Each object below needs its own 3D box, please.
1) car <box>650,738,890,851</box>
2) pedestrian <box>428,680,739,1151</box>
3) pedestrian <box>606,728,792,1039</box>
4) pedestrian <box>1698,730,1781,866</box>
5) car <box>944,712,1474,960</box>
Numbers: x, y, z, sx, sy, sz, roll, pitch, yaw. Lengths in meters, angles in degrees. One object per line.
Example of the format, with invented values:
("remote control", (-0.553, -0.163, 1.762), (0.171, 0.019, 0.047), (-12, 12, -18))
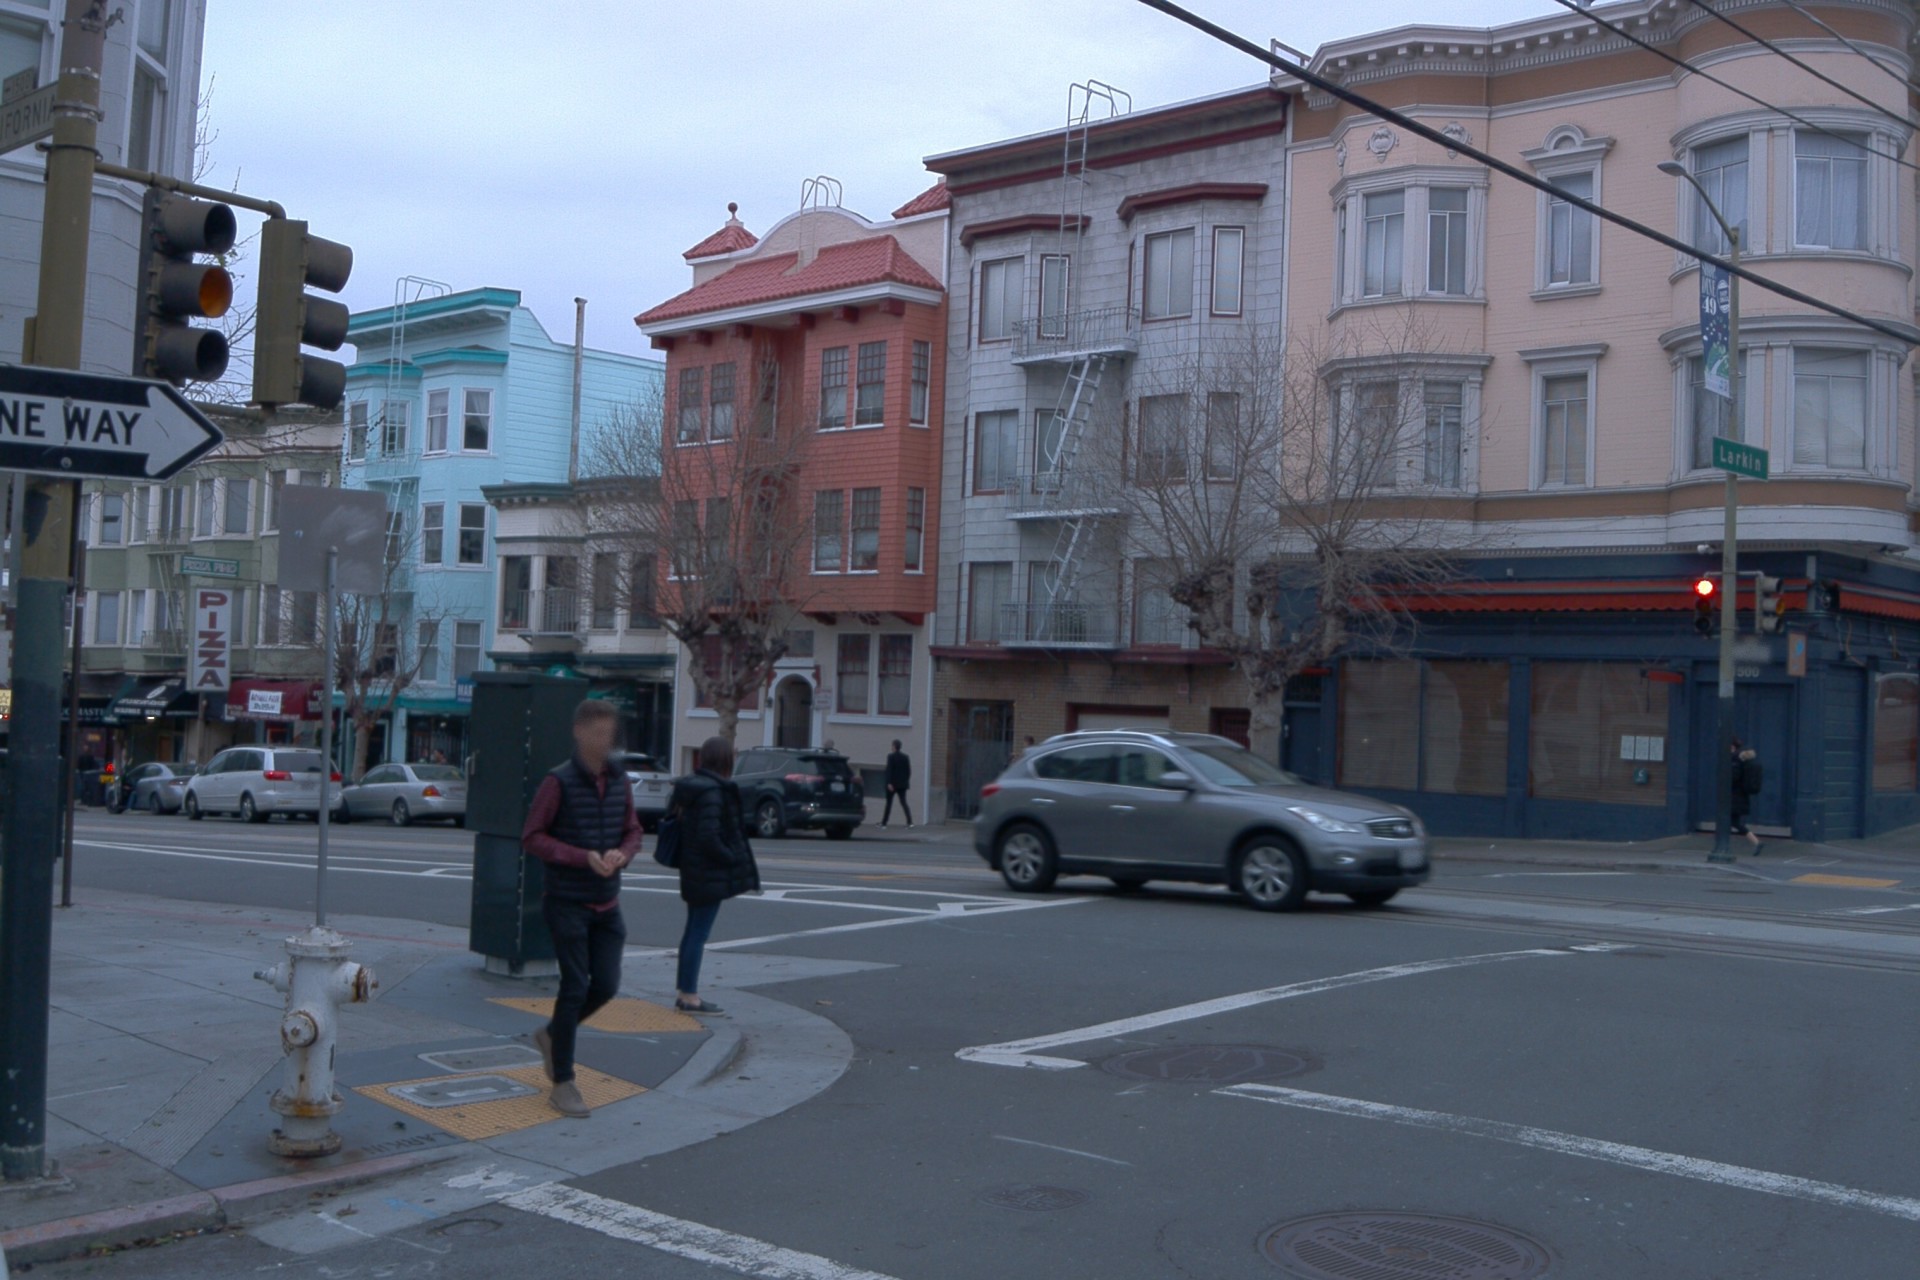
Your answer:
("car", (-3.618, 2.837, 38.769), (4.423, 1.700, 2.100), (1, 1, 44))
("pedestrian", (-1.721, 1.169, 9.366), (1.262, 1.922, 0.804), (1, 1, 45))
("pedestrian", (-1.540, 1.395, 12.159), (0.846, 1.692, 0.707), (-1, 1, -36))
("pedestrian", (11.080, 2.229, 29.331), (0.940, 1.820, 0.725), (1, 1, 36))
("car", (2.269, 1.727, 19.678), (4.671, 1.830, 2.108), (1, 1, 43))
